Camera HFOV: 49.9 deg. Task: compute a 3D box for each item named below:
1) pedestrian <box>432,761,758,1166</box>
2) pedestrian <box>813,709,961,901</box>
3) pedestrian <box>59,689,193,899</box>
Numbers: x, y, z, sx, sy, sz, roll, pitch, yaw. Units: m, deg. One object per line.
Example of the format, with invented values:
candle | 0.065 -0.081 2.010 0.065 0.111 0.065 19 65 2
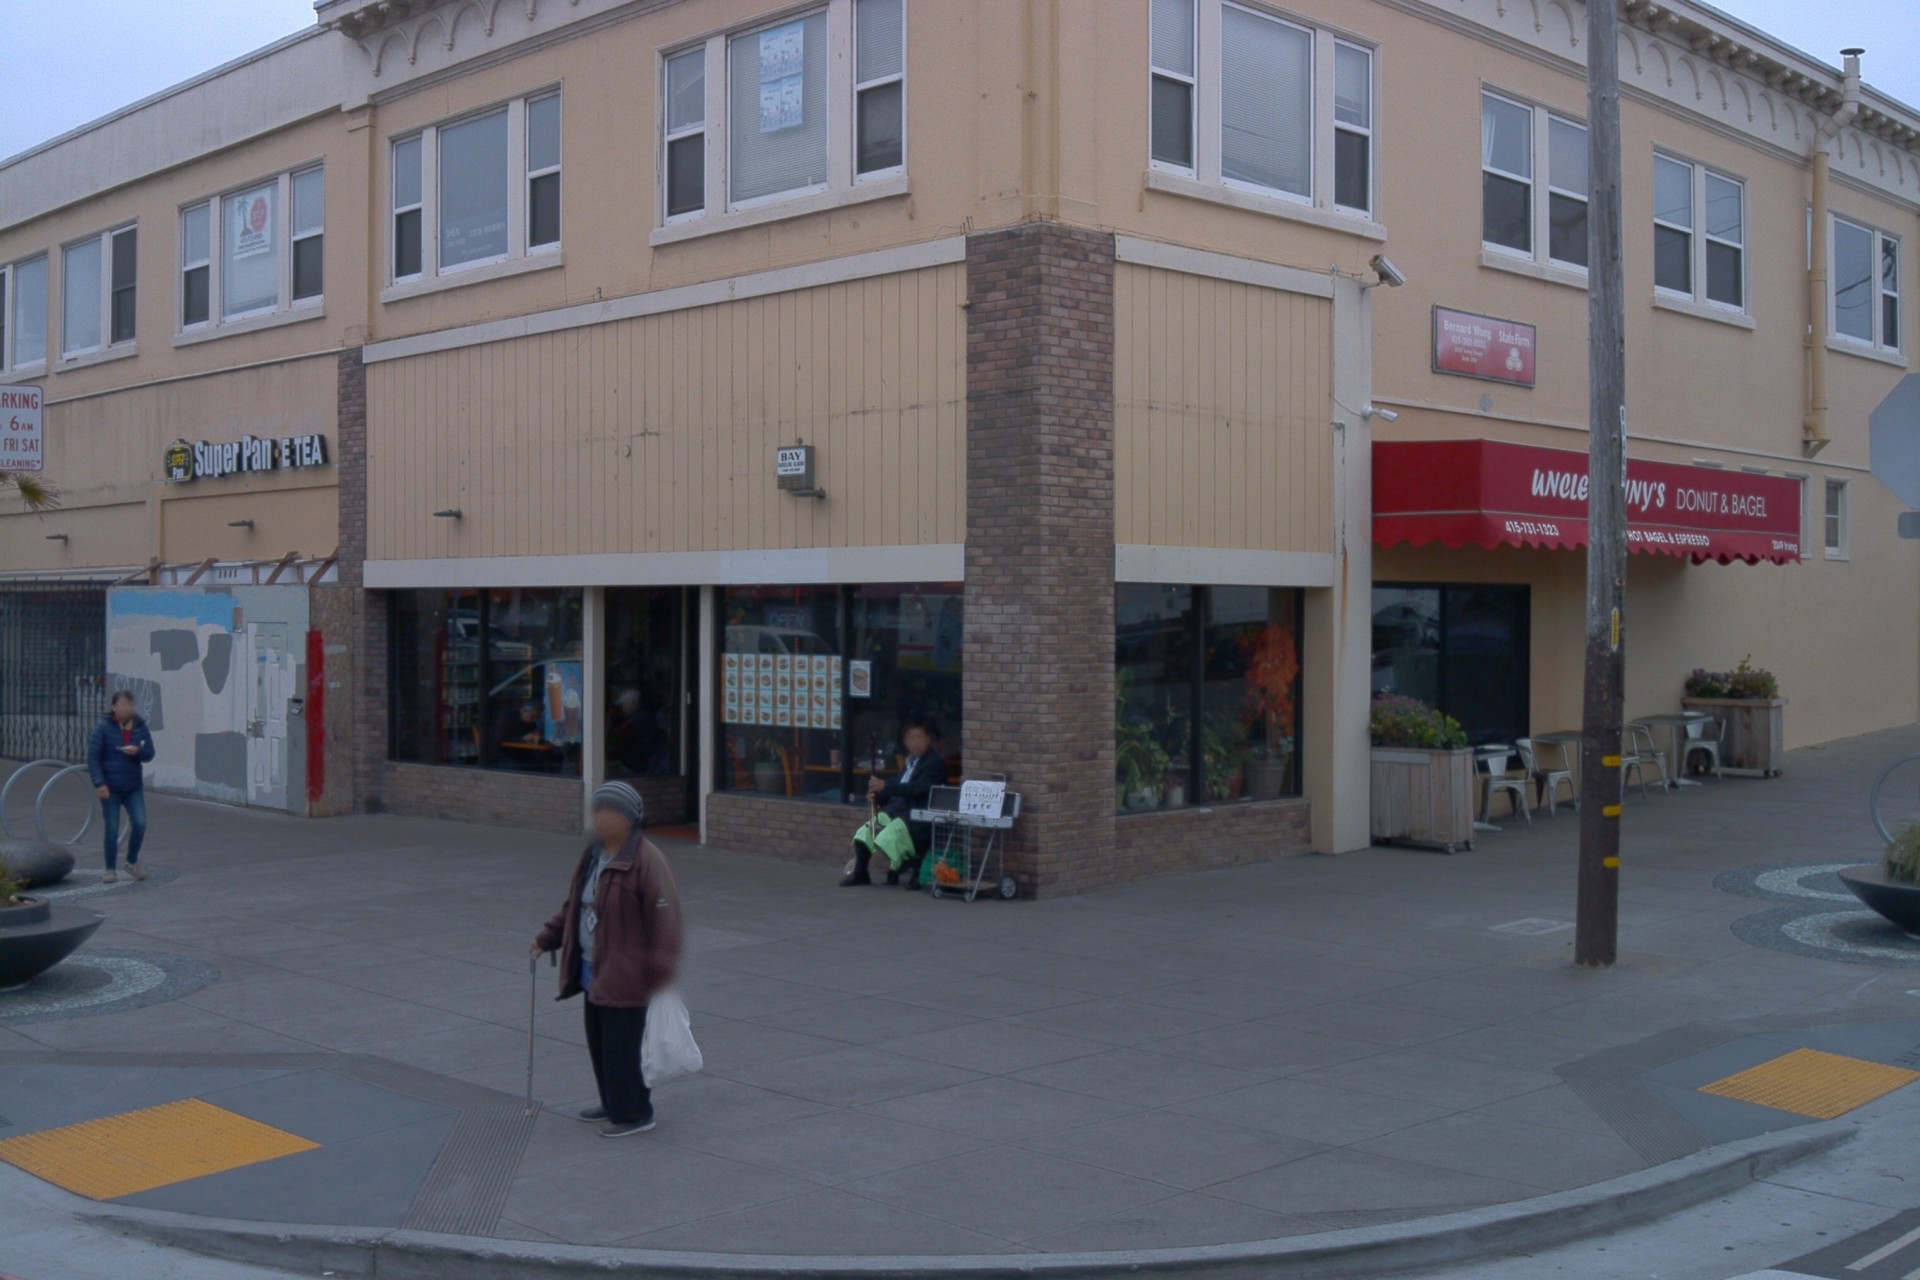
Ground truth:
pedestrian | -1.524 1.287 8.625 1.077 1.477 0.824 0 1 37
pedestrian | -0.563 1.239 15.858 0.878 1.374 0.735 1 1 45
pedestrian | -6.712 1.212 16.630 0.783 1.598 0.742 1 1 45
